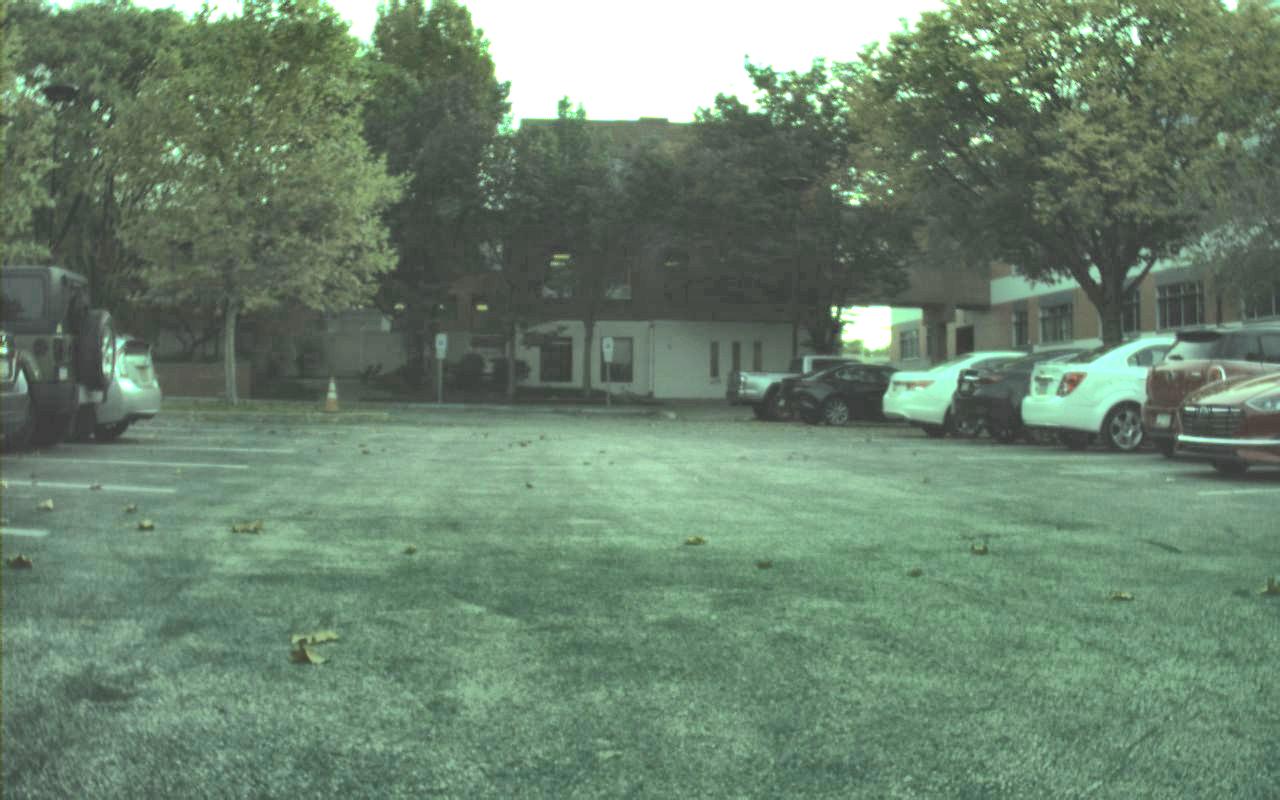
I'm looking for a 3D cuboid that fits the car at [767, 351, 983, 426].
[{"bbox_3d":[5.363,-0.264,28.396,4.592,1.601,1.959,0,1,-15],"label":"car"}]

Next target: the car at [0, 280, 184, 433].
[{"bbox_3d":[-7.726,-0.487,13.376,4.478,1.671,1.967,0,1,-11],"label":"car"}]

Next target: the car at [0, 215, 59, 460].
[{"bbox_3d":[-7.067,-0.400,8.398,4.454,1.637,1.964,0,1,-7],"label":"car"}]

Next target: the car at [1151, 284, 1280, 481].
[{"bbox_3d":[7.168,-0.131,10.336,4.551,1.584,1.957,0,1,-7],"label":"car"}]

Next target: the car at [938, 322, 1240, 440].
[{"bbox_3d":[6.890,-0.269,18.233,4.457,1.627,1.935,0,1,-8],"label":"car"}]

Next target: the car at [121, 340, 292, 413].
[{"bbox_3d":[-14.870,-0.778,40.911,5.804,2.390,2.349,0,1,-9],"label":"car"}]

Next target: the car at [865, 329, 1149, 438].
[{"bbox_3d":[6.241,-0.267,20.757,4.580,1.719,1.996,0,1,-5],"label":"car"}]

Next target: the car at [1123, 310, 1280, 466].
[{"bbox_3d":[7.910,-0.115,13.312,4.402,1.606,1.919,0,1,-17],"label":"car"}]

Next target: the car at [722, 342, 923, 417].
[{"bbox_3d":[4.844,-0.531,33.419,5.010,1.917,2.098,0,1,-8],"label":"car"}]

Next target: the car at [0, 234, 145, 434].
[{"bbox_3d":[-7.391,-0.605,10.969,4.678,1.798,2.026,0,1,-10],"label":"car"}]

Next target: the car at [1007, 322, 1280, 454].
[{"bbox_3d":[7.239,-0.140,15.766,4.408,1.589,1.905,0,1,-6],"label":"car"}]
